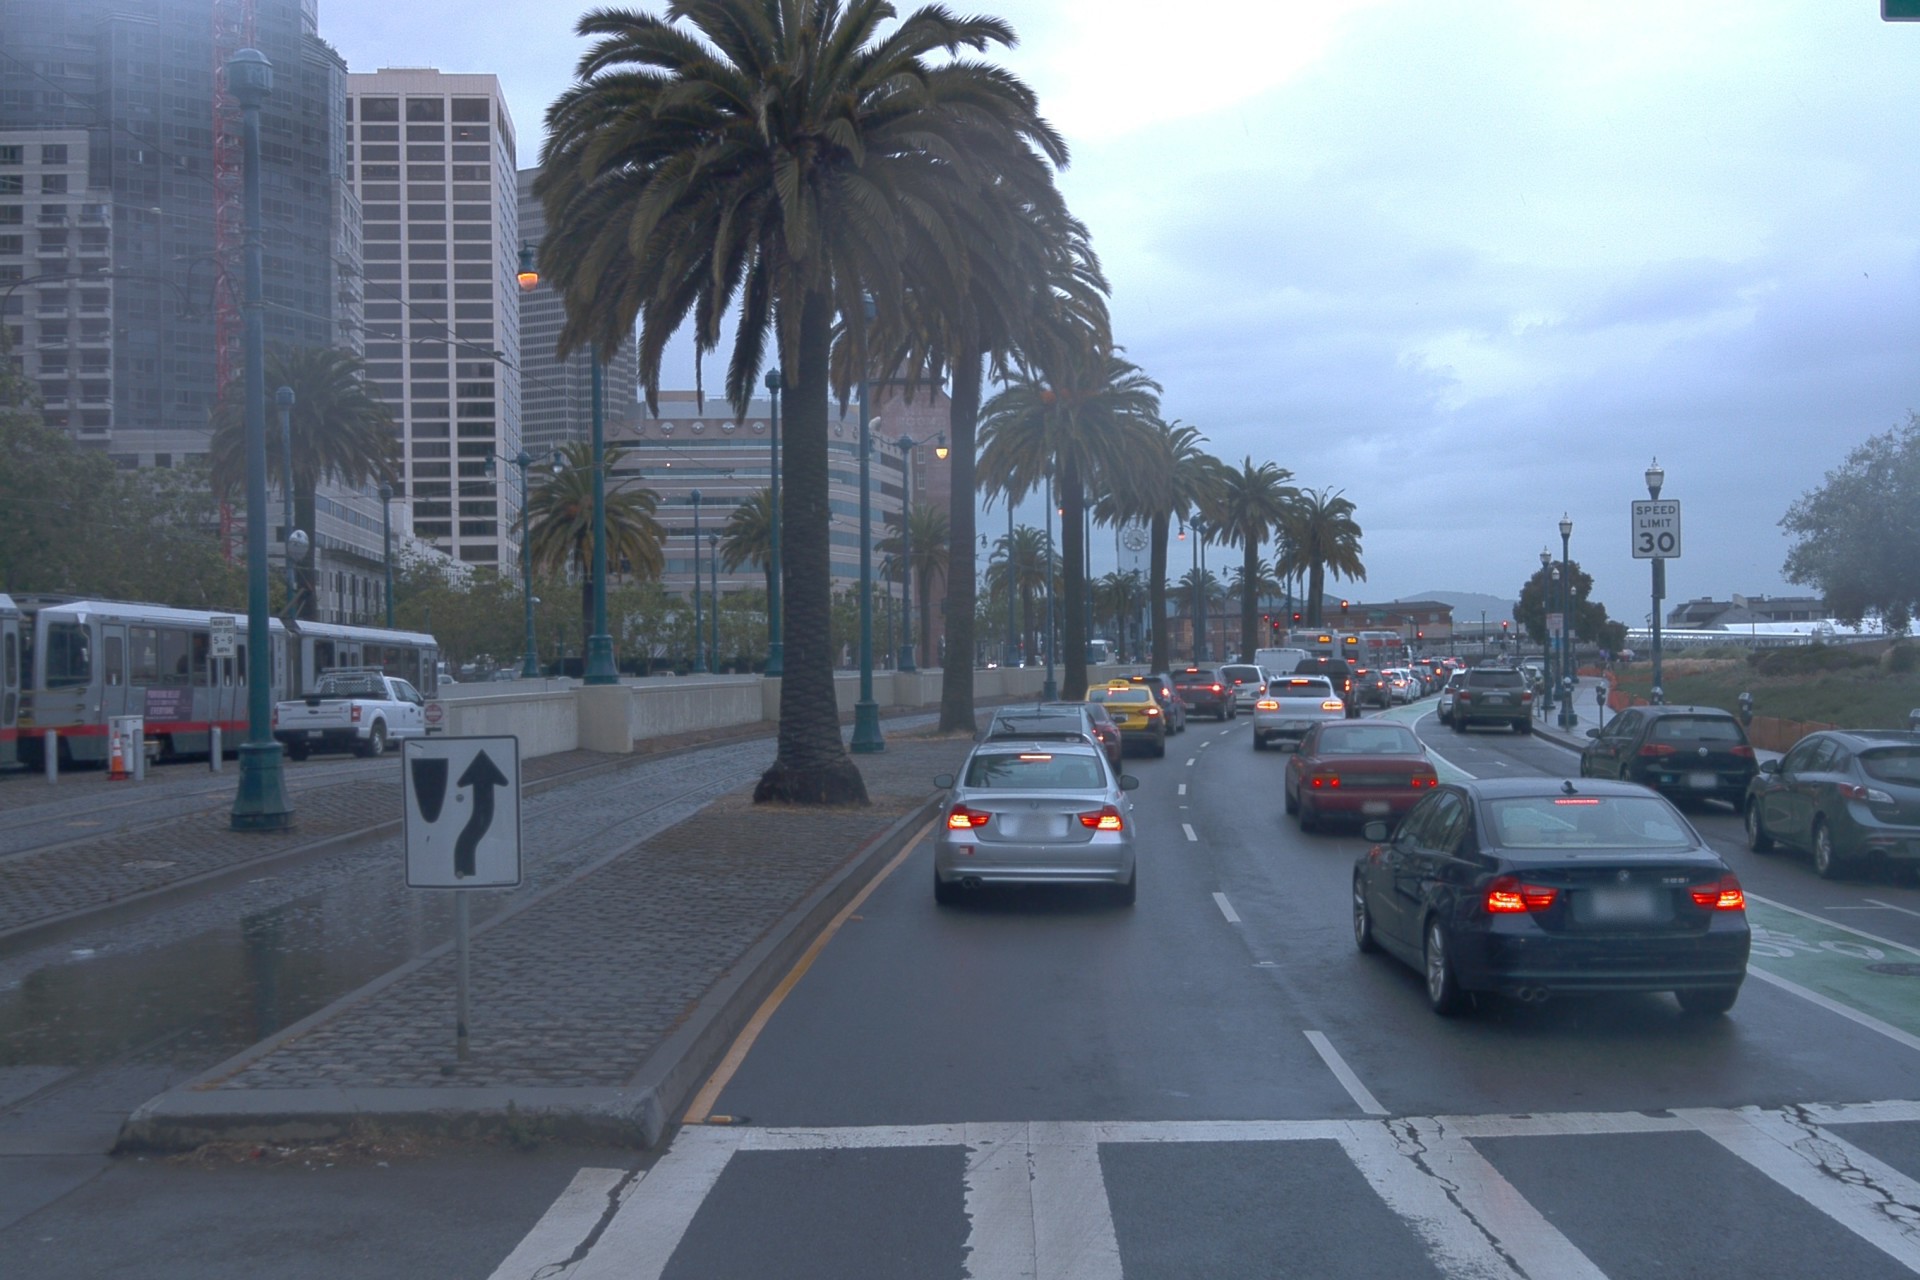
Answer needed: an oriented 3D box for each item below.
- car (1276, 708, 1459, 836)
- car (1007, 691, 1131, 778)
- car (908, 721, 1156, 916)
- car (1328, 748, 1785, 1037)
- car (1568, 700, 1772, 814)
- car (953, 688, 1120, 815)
[{"bbox_3d":[5.132,1.629,26.587,1.923,1.450,3.945,0,-1,5],"label":"car"},{"bbox_3d":[2.053,1.671,37.810,2.067,1.430,4.626,0,-1,5],"label":"car"},{"bbox_3d":[0.731,1.576,19.617,2.067,1.510,4.626,0,-1,3],"label":"car"},{"bbox_3d":[3.716,1.524,13.758,1.869,1.450,4.344,0,-1,1],"label":"car"},{"bbox_3d":[10.142,1.632,29.917,1.884,1.470,4.052,0,-1,5],"label":"car"},{"bbox_3d":[1.154,1.474,28.728,2.067,1.580,4.626,0,-1,5],"label":"car"}]
